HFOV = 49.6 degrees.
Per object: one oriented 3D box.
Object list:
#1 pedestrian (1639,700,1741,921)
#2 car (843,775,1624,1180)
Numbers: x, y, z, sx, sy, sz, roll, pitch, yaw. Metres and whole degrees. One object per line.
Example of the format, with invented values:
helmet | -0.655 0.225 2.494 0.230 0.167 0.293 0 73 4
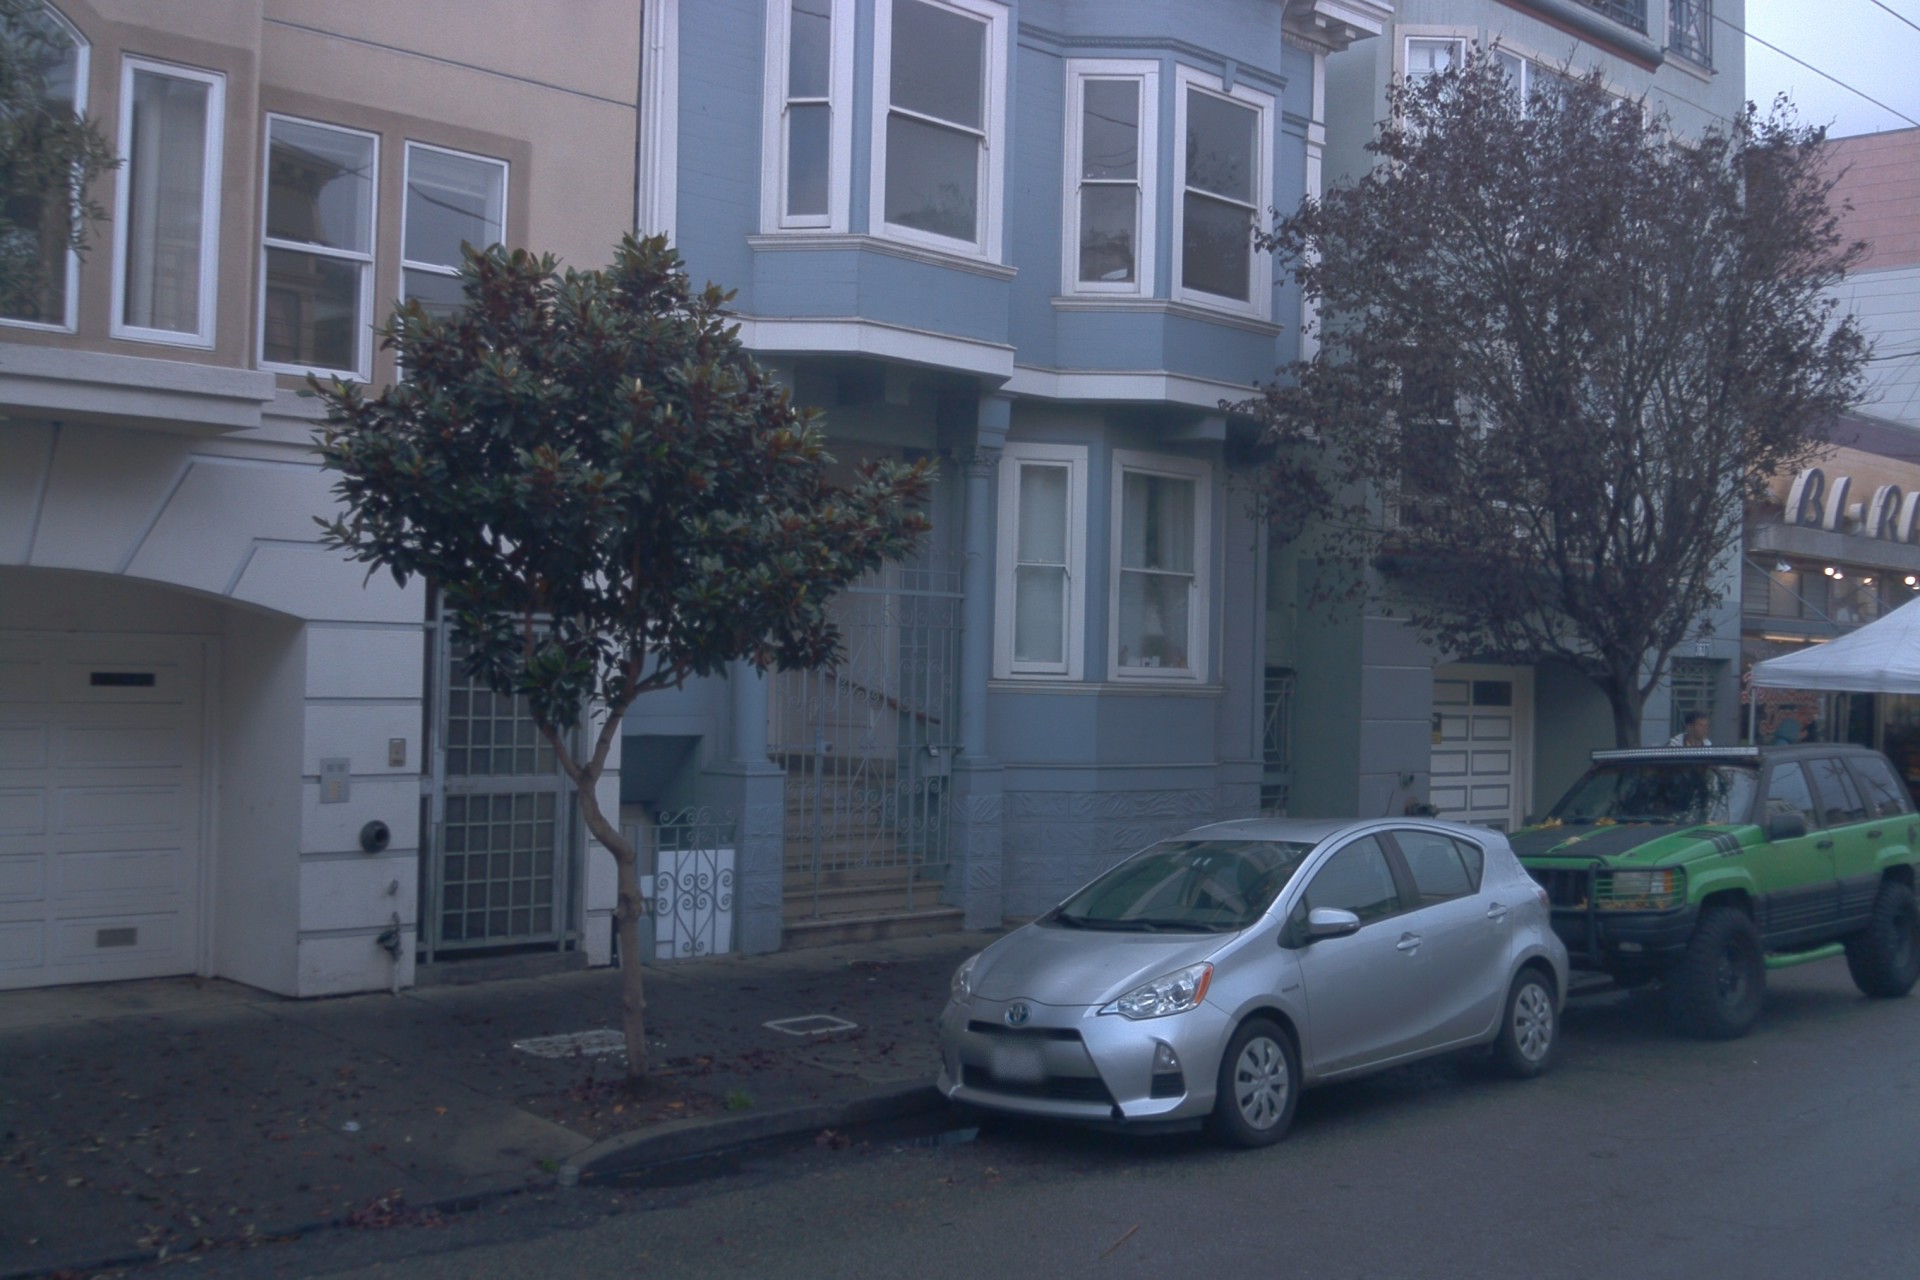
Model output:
pedestrian | 6.733 1.557 19.169 0.748 1.980 0.628 1 -1 7
car | 1.574 1.557 10.860 1.978 1.500 4.053 0 -1 45
